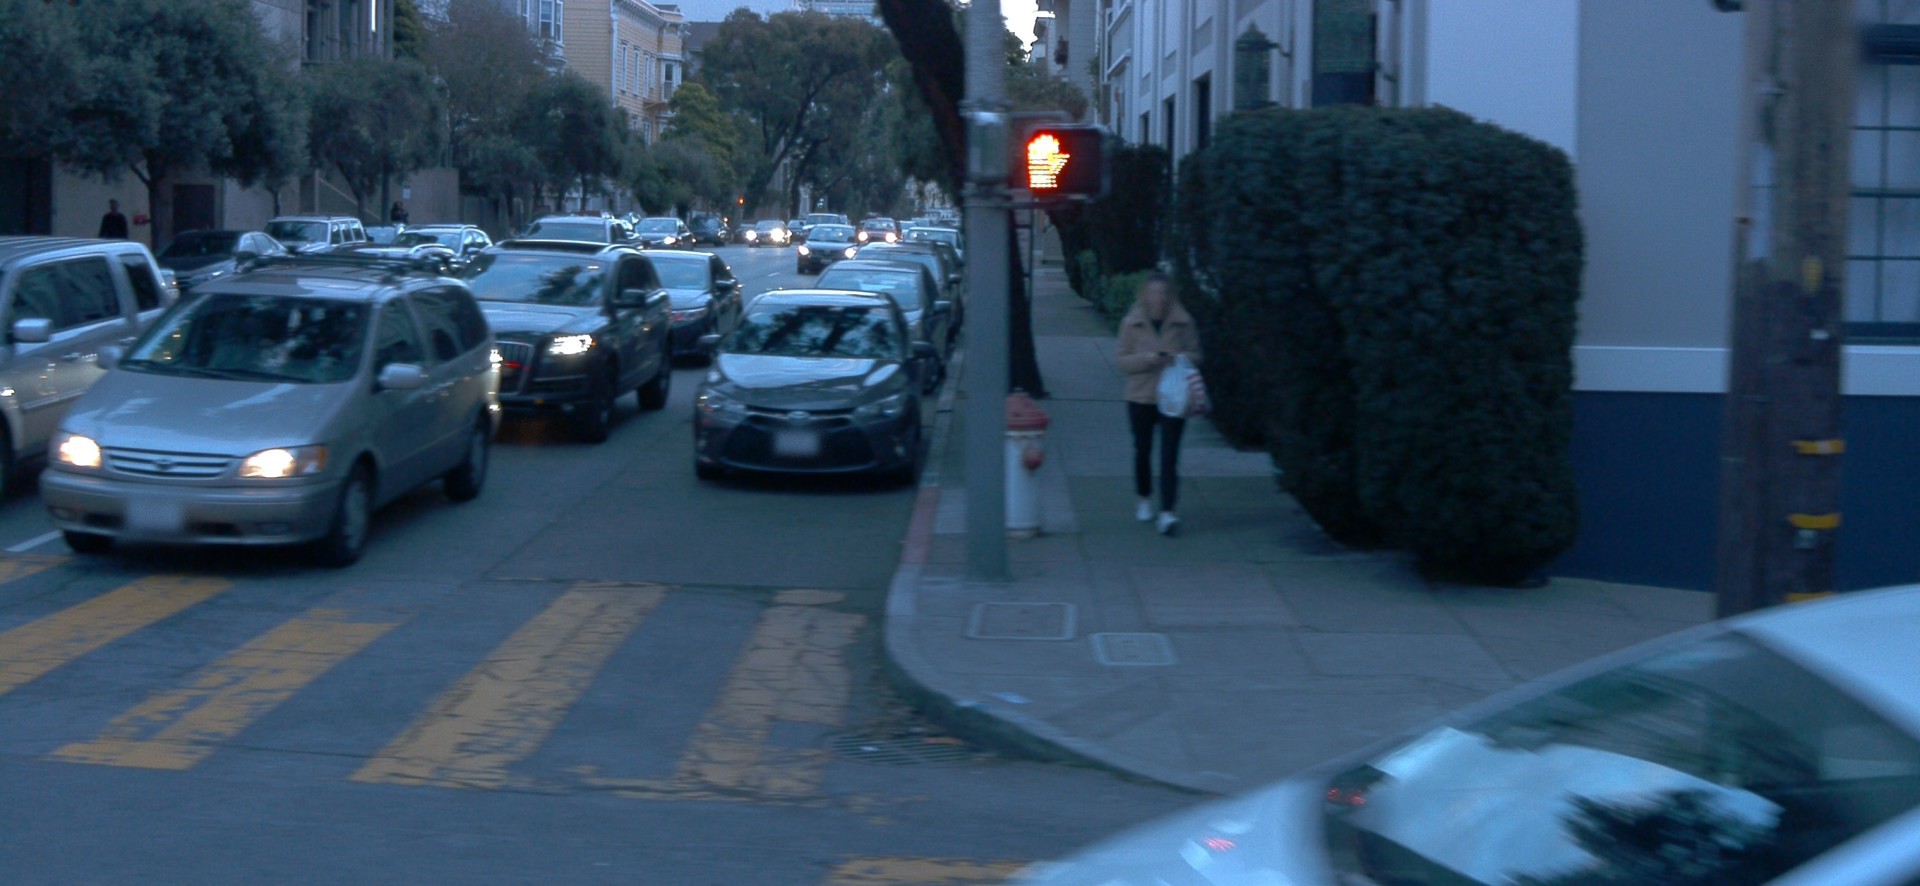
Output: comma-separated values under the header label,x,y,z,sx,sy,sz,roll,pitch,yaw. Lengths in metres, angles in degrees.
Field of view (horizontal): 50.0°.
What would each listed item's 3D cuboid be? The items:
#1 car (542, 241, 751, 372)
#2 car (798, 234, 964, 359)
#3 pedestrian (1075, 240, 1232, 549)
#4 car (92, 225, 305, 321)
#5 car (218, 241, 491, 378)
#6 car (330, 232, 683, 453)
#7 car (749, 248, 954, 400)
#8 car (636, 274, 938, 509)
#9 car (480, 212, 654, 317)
label,x,y,z,sx,sy,sz,roll,pitch,yaw
car,-4.220,-1.960,28.414,2.120,1.552,4.646,1,6,1
car,-1.115,-2.310,31.480,2.149,1.671,4.783,1,6,2
pedestrian,1.237,-0.354,13.372,0.864,1.899,1.093,1,2,-2
car,-13.770,-3.149,37.506,2.117,1.571,4.668,1,6,0
car,-7.423,-1.745,25.703,2.069,1.462,4.411,1,6,0
car,-4.257,-1.128,20.274,2.225,1.810,5.016,1,6,2
car,-1.235,-1.550,25.378,2.113,1.592,4.335,1,6,2
car,-1.351,-0.592,18.162,2.149,1.601,4.929,1,6,1
car,-7.006,-3.293,37.212,2.208,1.721,5.035,1,6,-1
